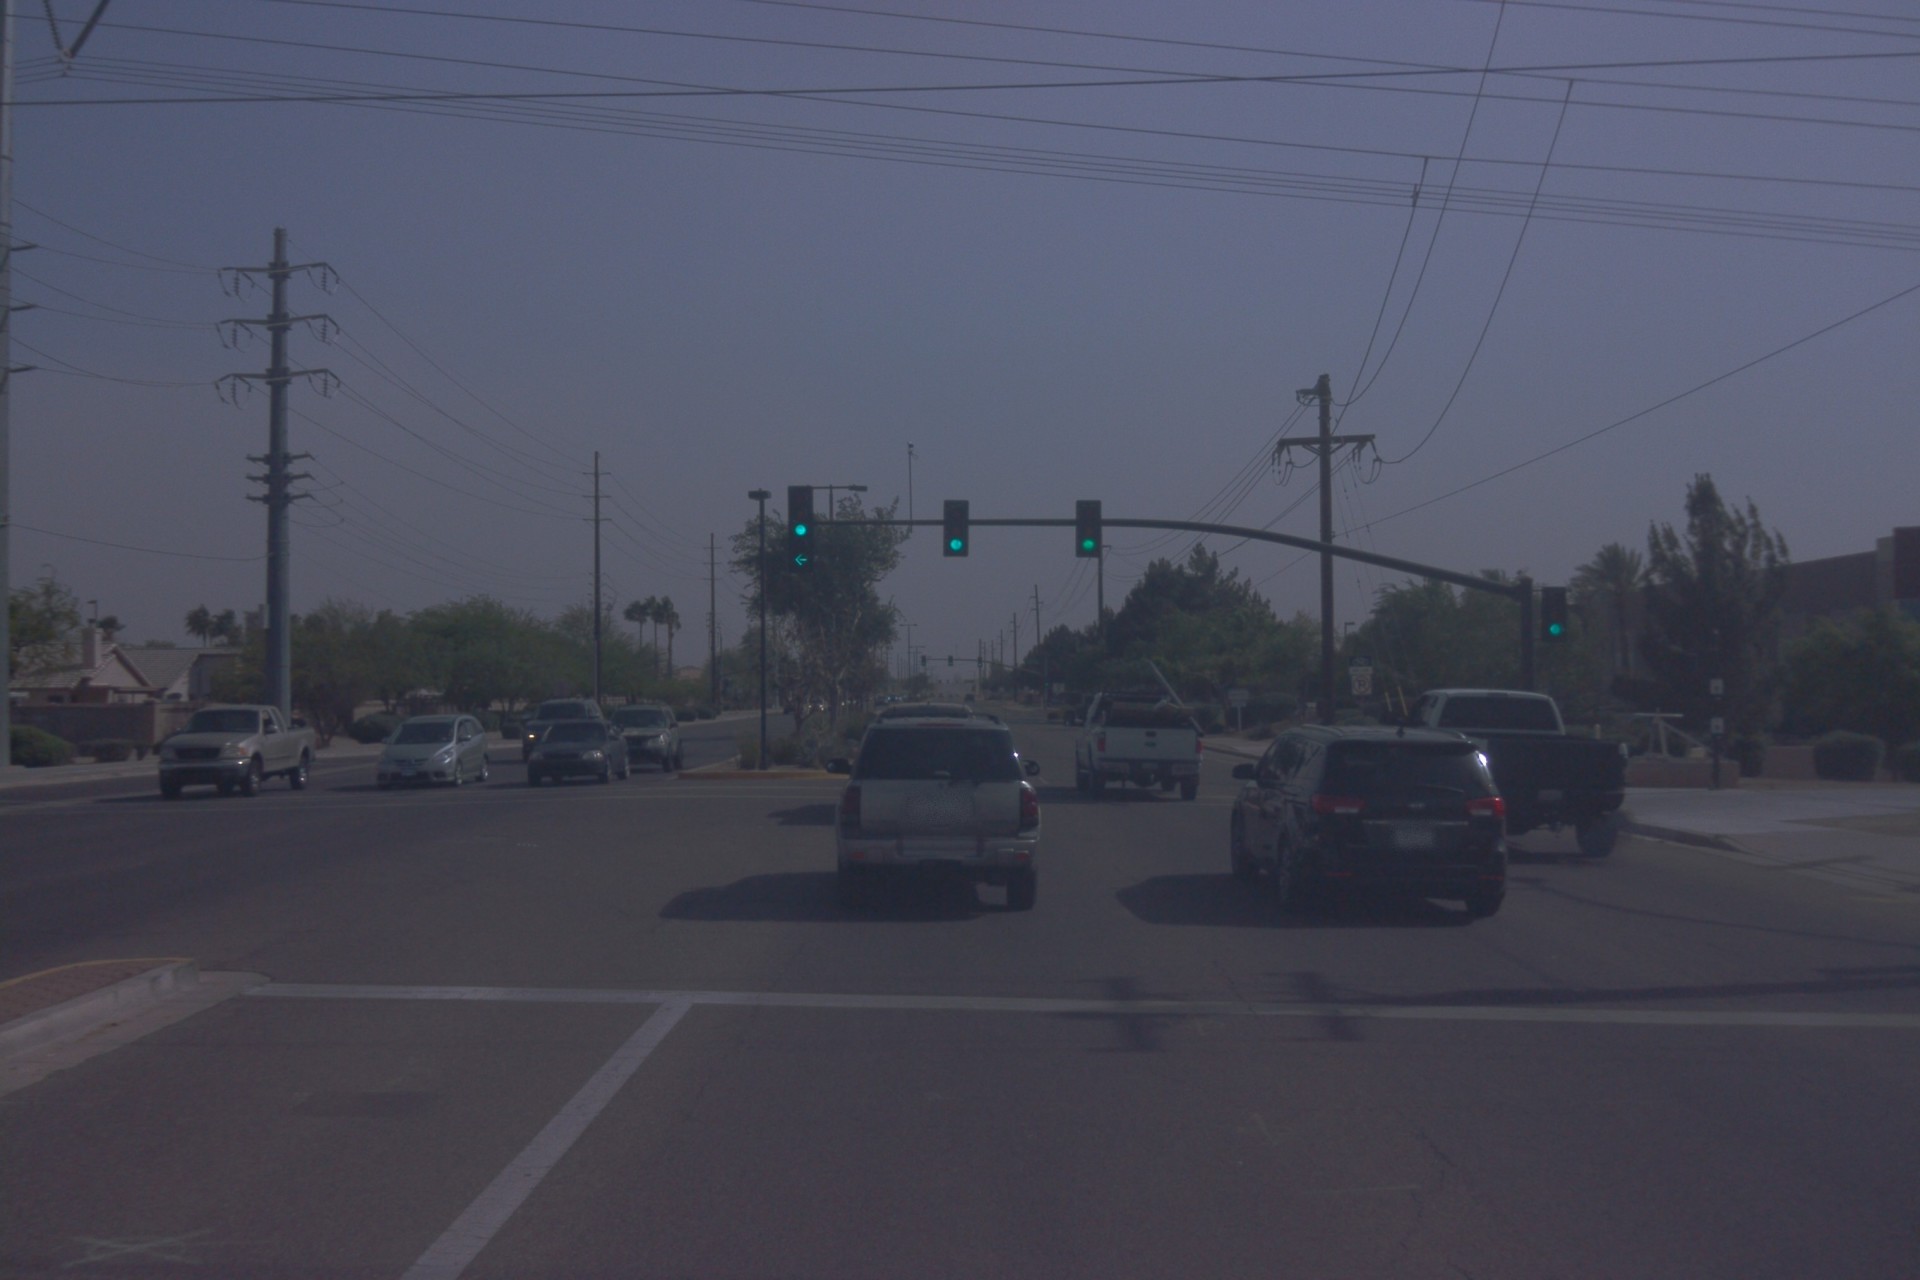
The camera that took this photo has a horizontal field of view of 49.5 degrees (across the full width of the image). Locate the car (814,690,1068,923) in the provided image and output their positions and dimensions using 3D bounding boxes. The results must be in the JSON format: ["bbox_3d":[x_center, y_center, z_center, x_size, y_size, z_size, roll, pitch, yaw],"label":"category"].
[{"bbox_3d":[-0.243,1.513,20.499,2.201,1.960,4.684,0,-1,-2],"label":"car"}]

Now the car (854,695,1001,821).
[{"bbox_3d":[-0.475,1.798,32.834,2.149,1.780,4.304,0,-1,0],"label":"car"}]

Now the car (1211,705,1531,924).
[{"bbox_3d":[3.882,1.601,20.595,2.145,1.800,4.883,0,-1,0],"label":"car"}]

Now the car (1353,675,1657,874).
[{"bbox_3d":[7.209,1.681,28.430,2.415,2.350,6.496,0,-1,0],"label":"car"}]
